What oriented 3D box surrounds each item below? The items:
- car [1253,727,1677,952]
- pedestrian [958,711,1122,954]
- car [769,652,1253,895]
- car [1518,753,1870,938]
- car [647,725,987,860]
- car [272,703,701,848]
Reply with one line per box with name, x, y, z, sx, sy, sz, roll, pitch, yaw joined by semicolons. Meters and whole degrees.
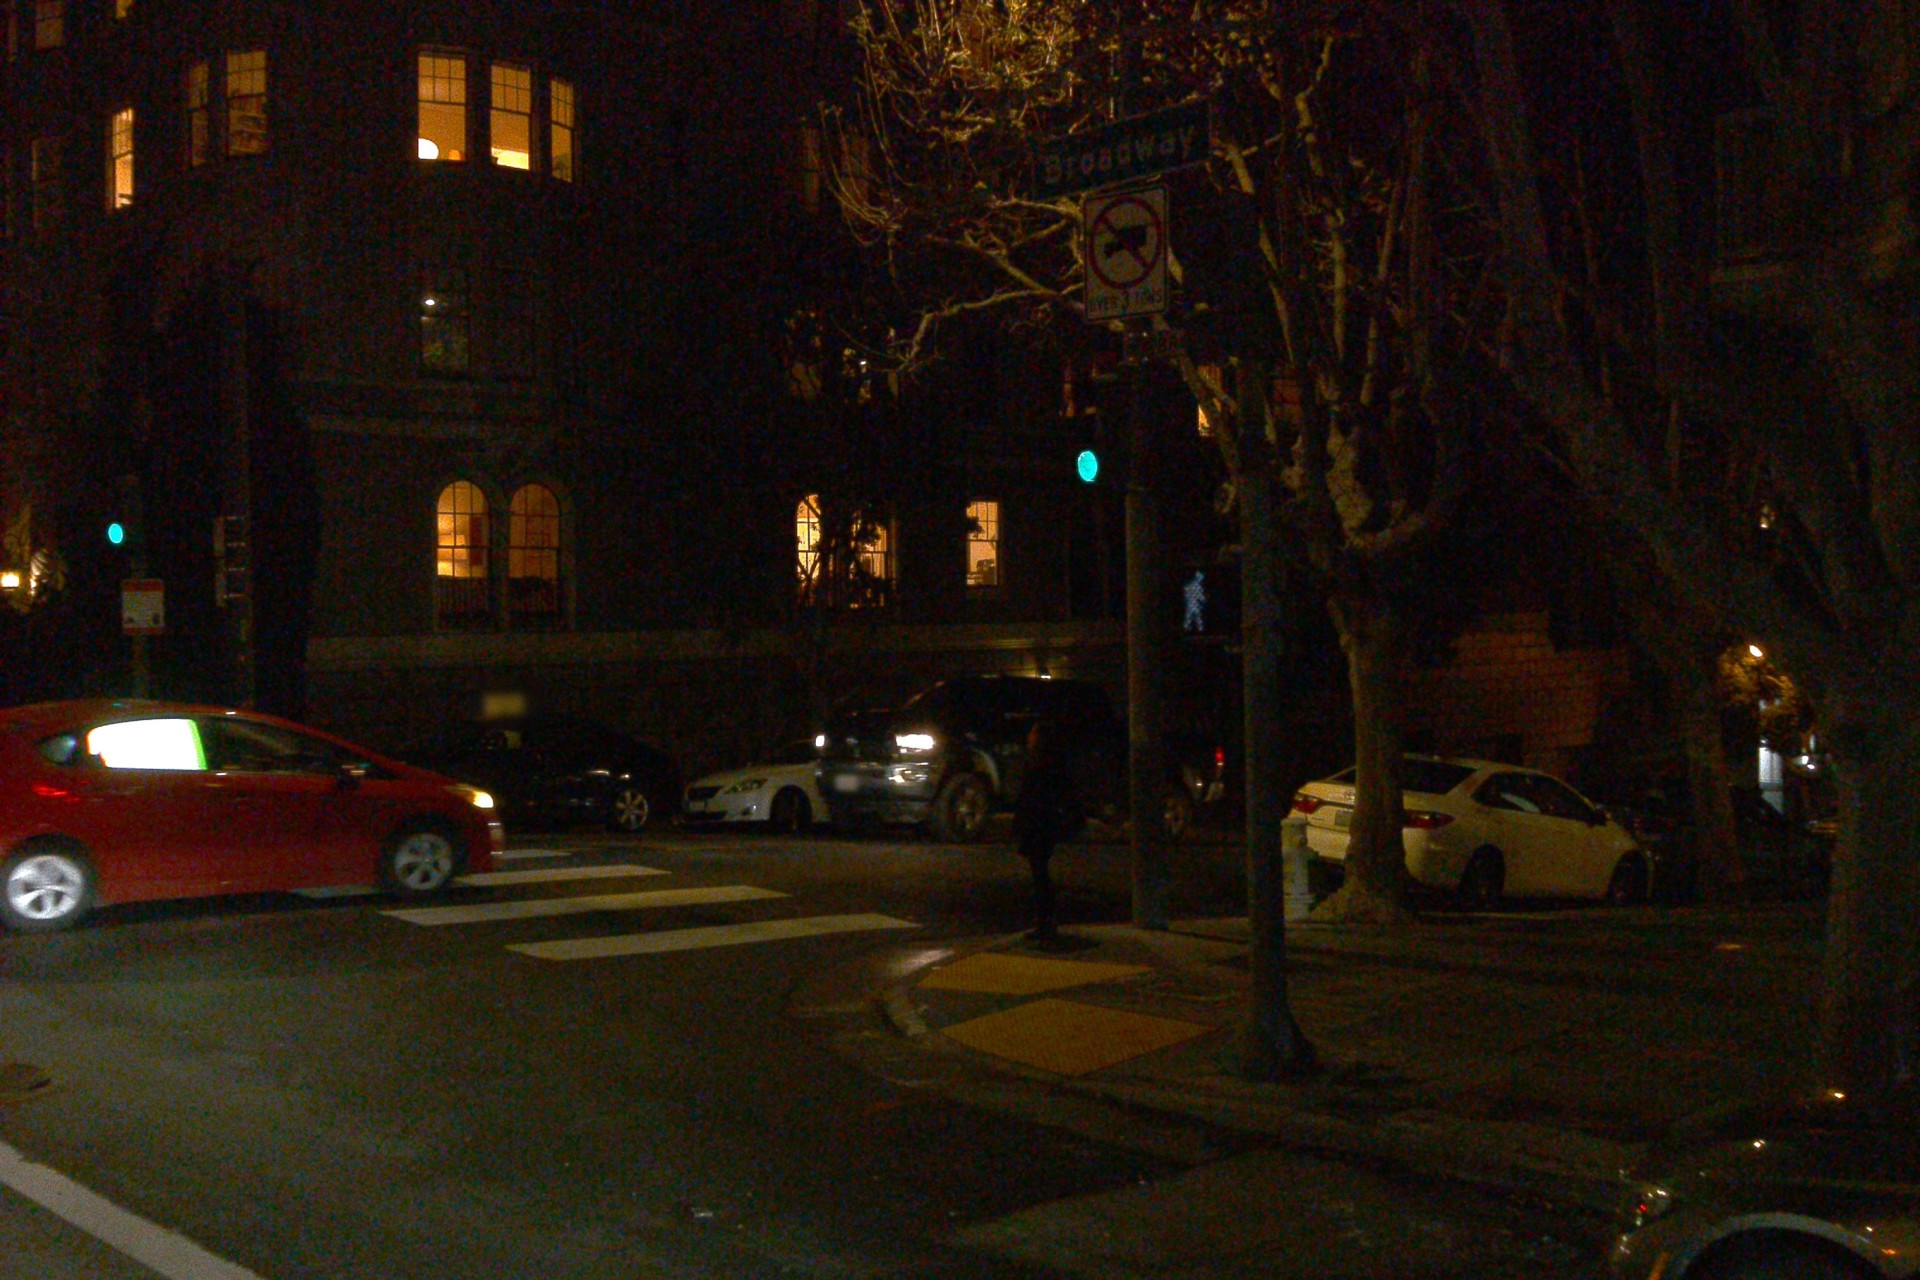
car;5.167;1.881;20.639;4.554;1.811;1.990;0;0;-44
pedestrian;0.547;1.301;14.224;0.707;1.570;0.903;0;0;-38
car;0.771;1.472;25.302;2.553;2.592;5.958;1;0;45
car;8.915;2.359;24.705;4.887;1.744;1.990;0;0;-44
car;-1.841;1.979;27.681;1.919;1.482;4.488;1;0;42
car;-5.386;1.494;23.883;1.838;1.362;4.644;1;0;42
